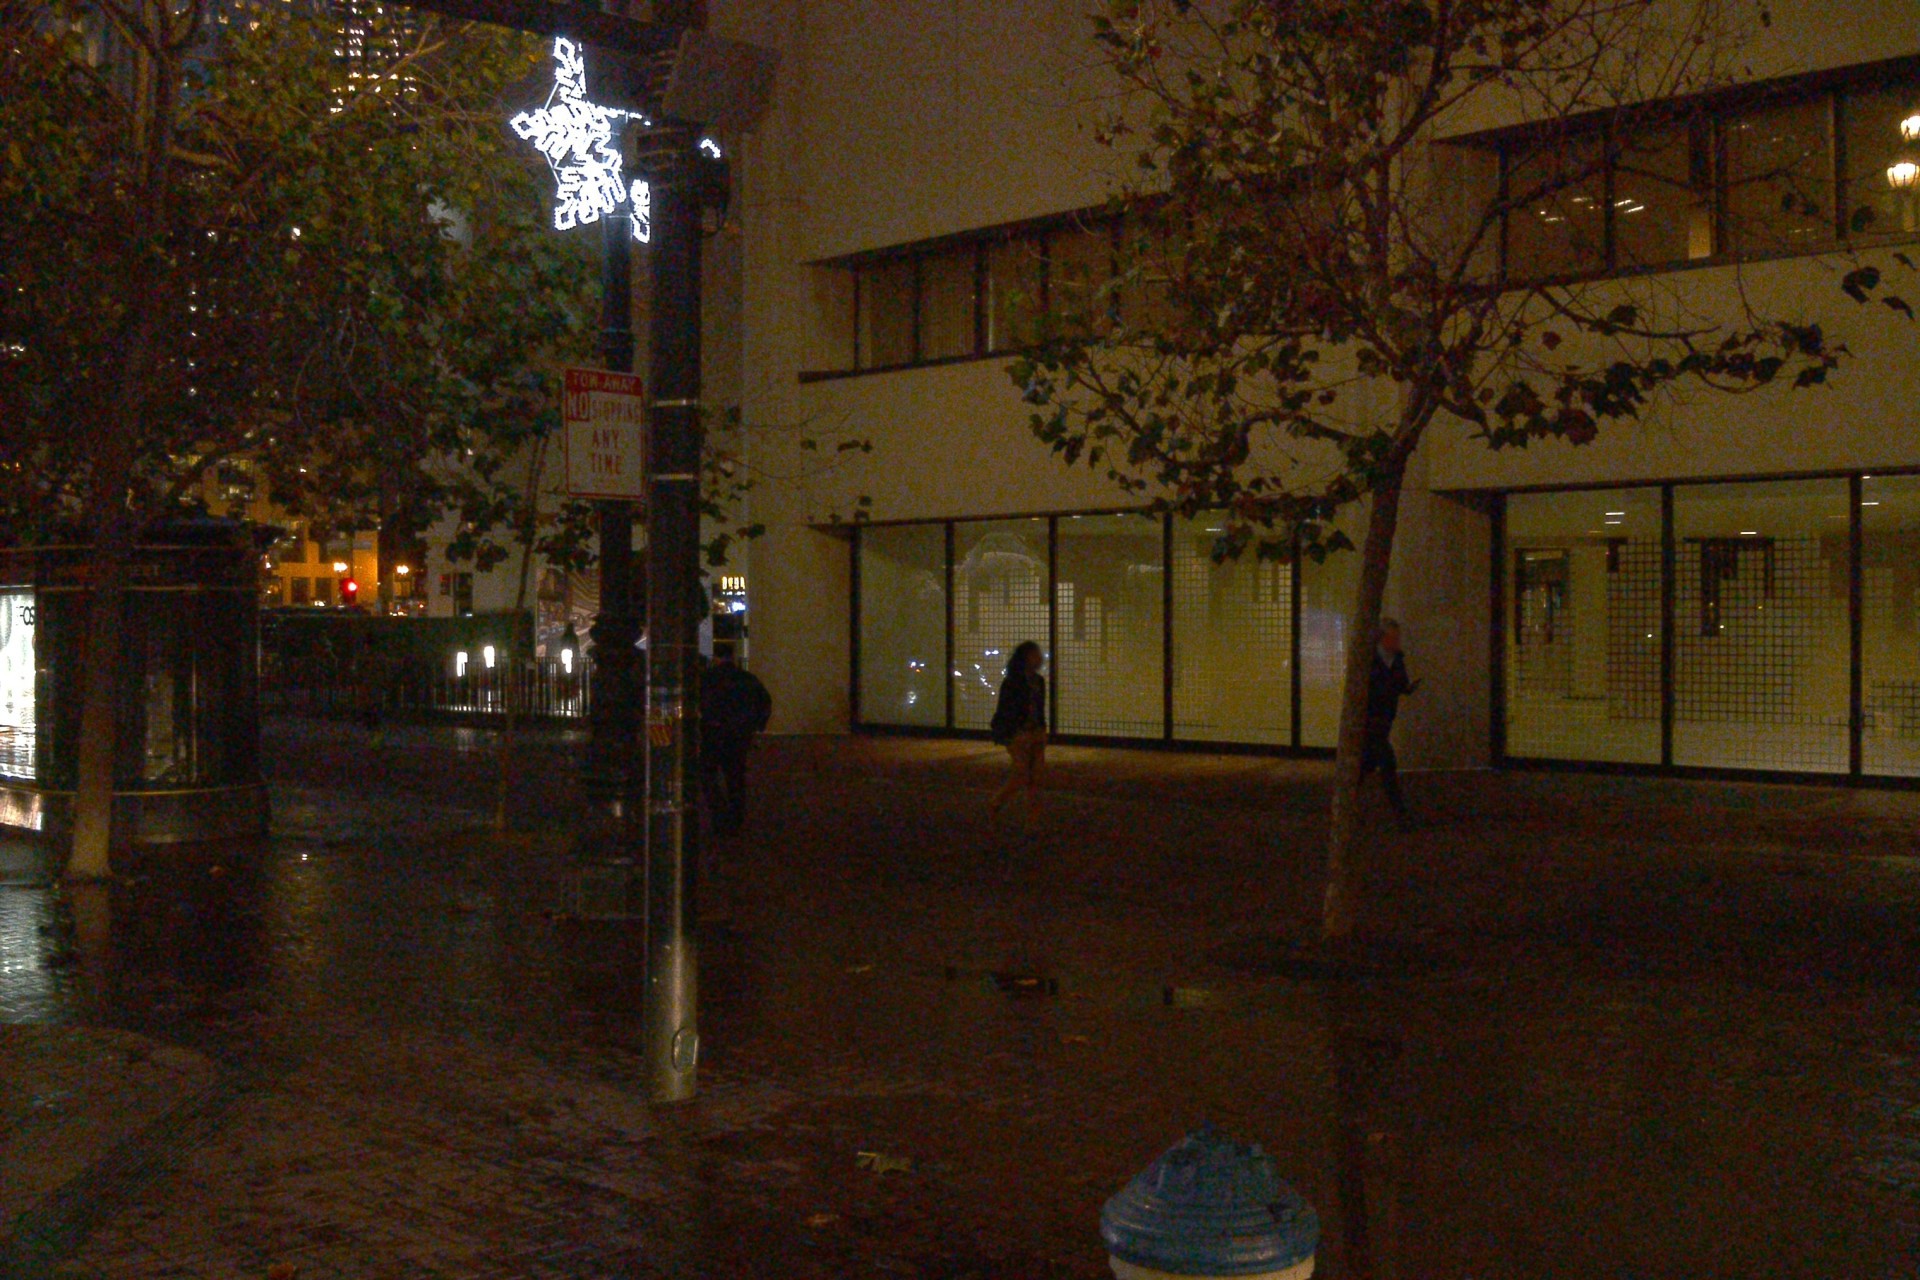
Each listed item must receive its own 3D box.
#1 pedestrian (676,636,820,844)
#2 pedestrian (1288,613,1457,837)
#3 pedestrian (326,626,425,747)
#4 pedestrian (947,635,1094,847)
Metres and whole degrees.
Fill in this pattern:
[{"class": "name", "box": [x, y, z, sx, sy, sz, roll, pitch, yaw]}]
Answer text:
[{"class": "pedestrian", "box": [-1.901, 0.863, 18.297, 0.860, 1.780, 1.103, 1, 0, -32]}, {"class": "pedestrian", "box": [3.500, 0.695, 17.425, 0.841, 1.830, 1.114, 1, 0, -38]}, {"class": "pedestrian", "box": [-8.242, 0.640, 28.887, 1.061, 1.670, 0.918, 0, 0, 43]}, {"class": "pedestrian", "box": [0.523, 0.847, 17.811, 0.729, 1.780, 1.050, 1, 0, -45]}]
